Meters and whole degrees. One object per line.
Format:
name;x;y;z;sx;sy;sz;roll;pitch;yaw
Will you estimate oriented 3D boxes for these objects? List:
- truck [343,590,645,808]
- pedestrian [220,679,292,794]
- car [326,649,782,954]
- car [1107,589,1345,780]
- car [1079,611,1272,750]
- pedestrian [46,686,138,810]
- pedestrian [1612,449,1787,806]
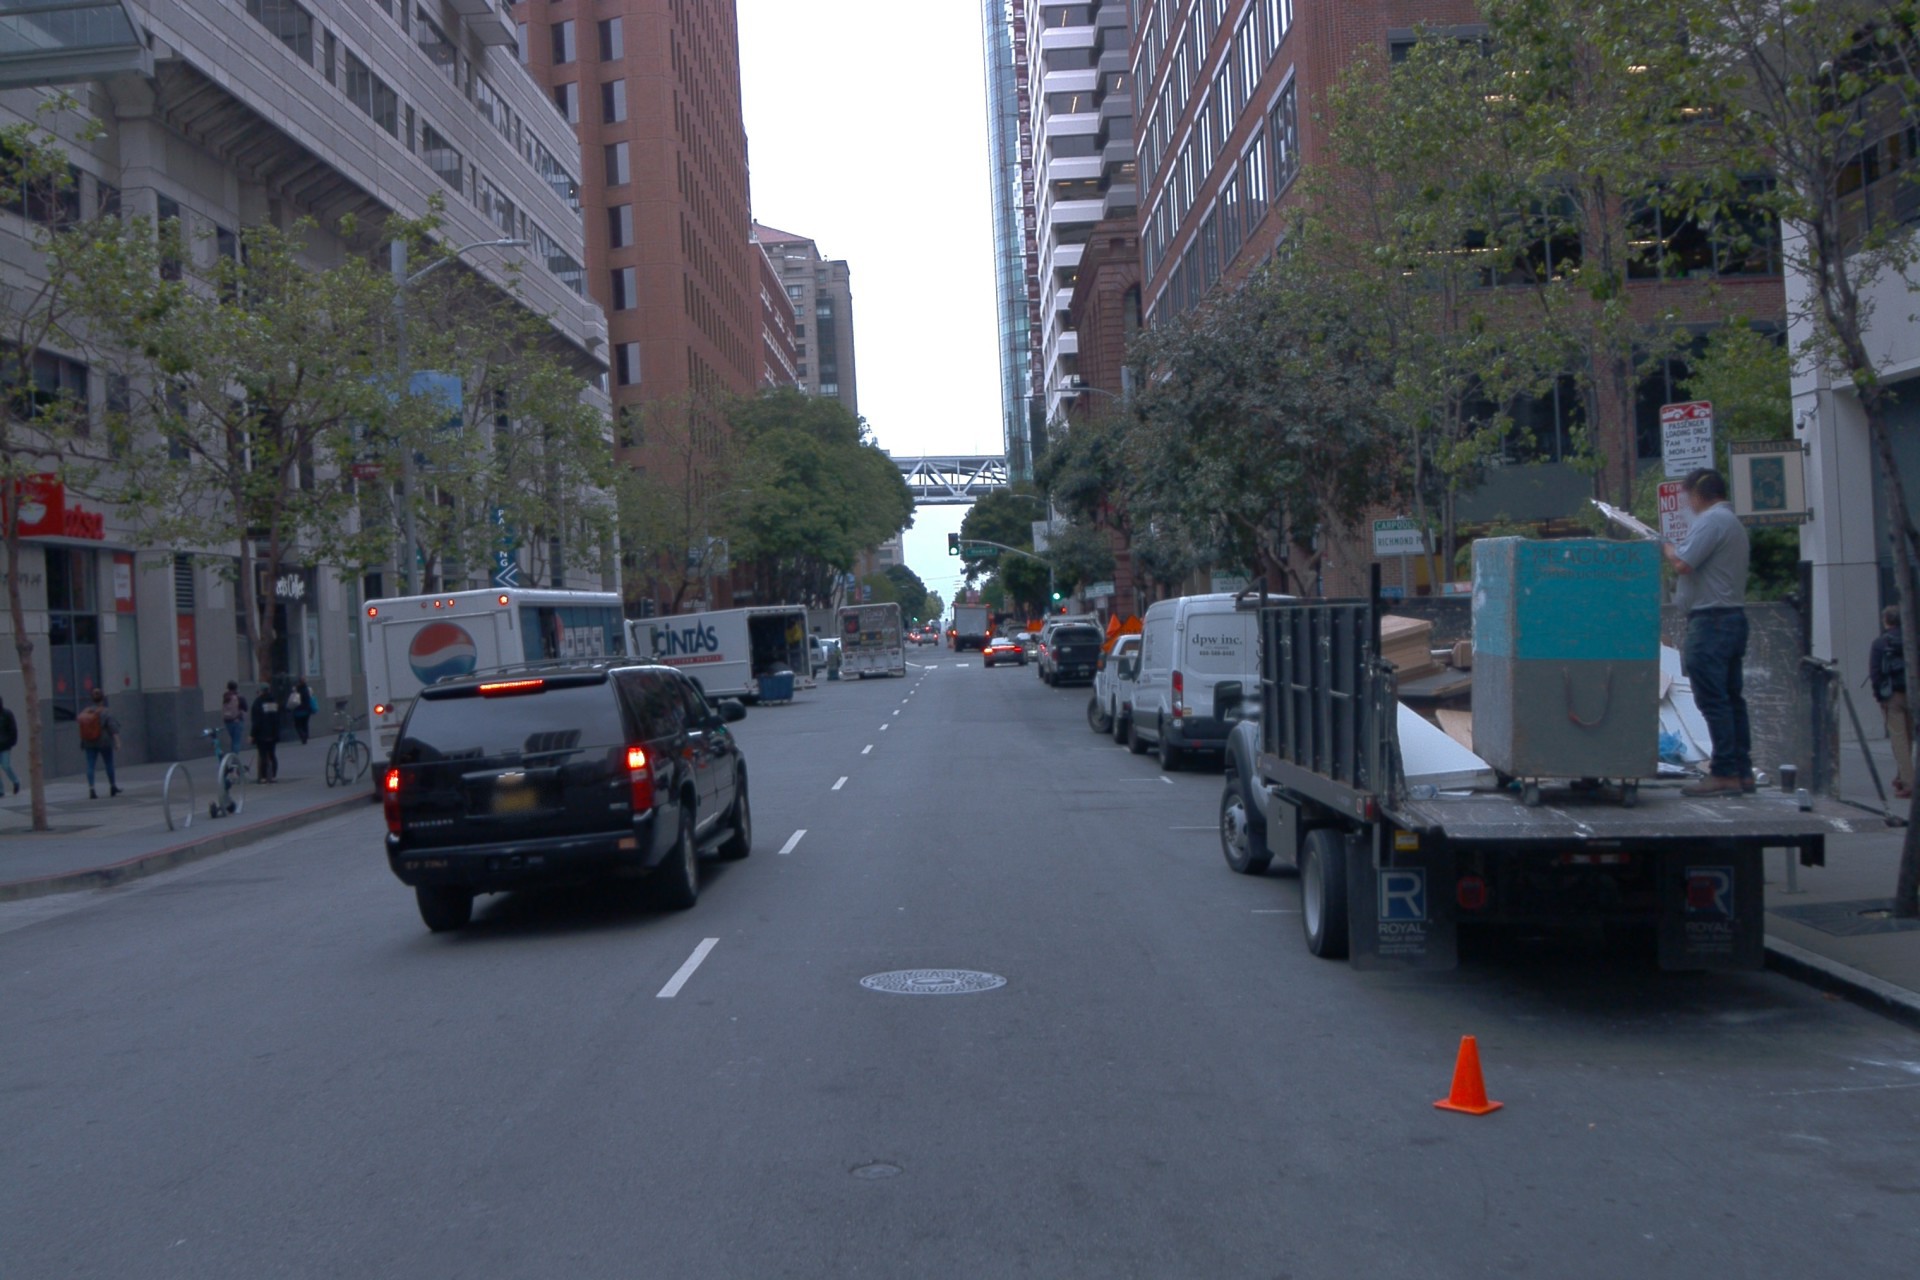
truck;-7.486;0.794;34.582;2.745;3.140;9.690;0;1;1
pedestrian;-11.107;1.507;32.449;0.759;1.750;0.753;0;1;24
car;-2.962;1.094;16.616;2.449;1.929;5.813;0;1;1
car;3.787;0.558;30.587;2.502;2.560;6.049;0;1;-2
car;3.731;0.631;36.936;2.613;2.293;5.985;0;1;-2
pedestrian;-12.938;1.595;30.661;0.924;1.774;1.015;0;1;1
pedestrian;3.917;-0.069;10.882;0.661;1.800;0.764;0;1;38
